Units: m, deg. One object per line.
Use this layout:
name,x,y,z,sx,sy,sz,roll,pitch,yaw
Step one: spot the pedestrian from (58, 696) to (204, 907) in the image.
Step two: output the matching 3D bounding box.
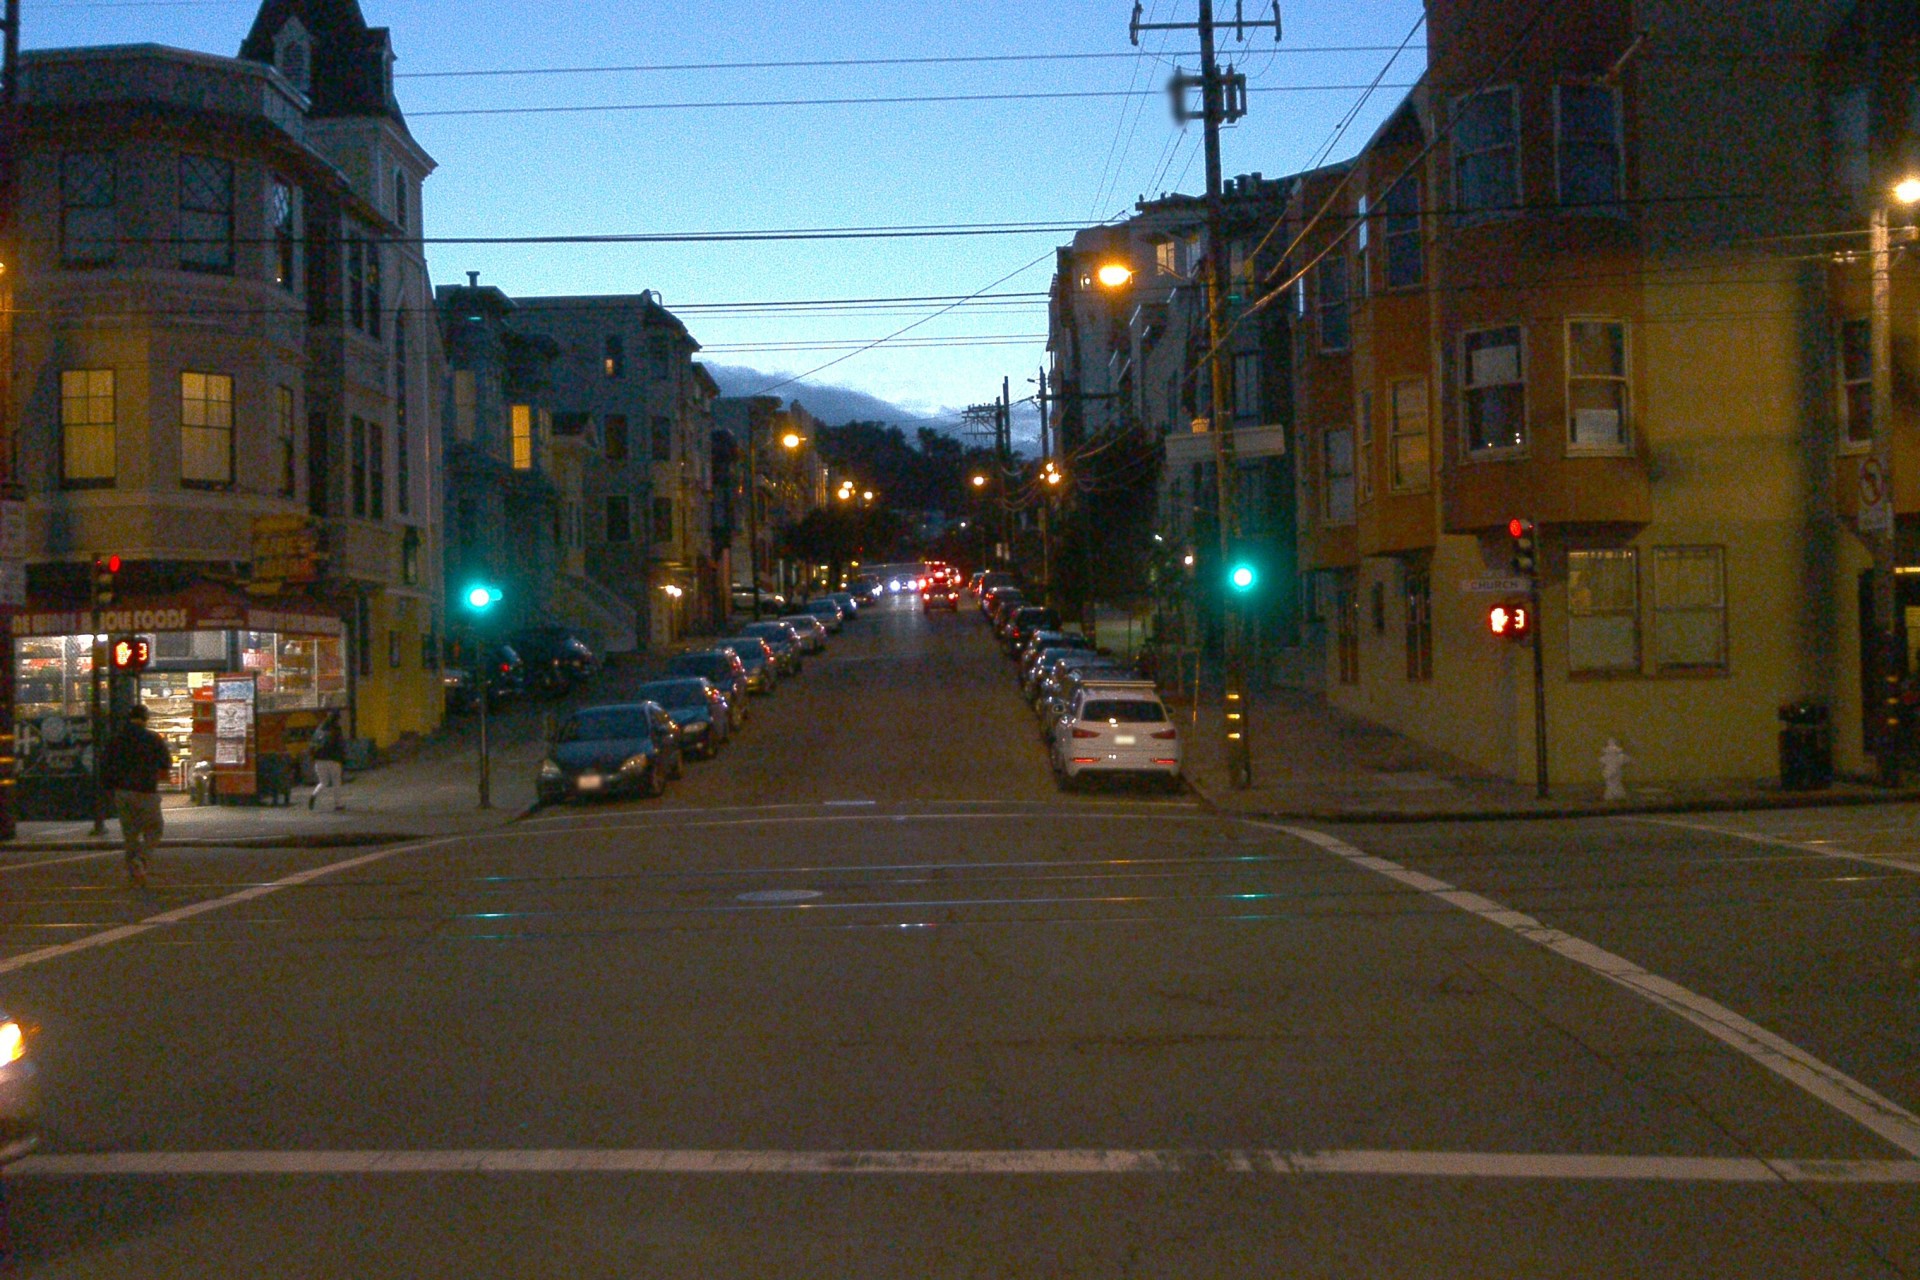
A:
pedestrian,-8.047,1.543,20.018,0.909,1.930,1.269,0,1,-1

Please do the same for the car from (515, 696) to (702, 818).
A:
car,-5.639,1.845,33.669,2.208,1.630,4.906,0,1,0

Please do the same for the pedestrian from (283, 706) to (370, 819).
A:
pedestrian,-9.643,1.845,31.309,0.925,1.640,0.885,0,1,16

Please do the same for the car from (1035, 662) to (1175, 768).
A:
car,2.614,1.333,38.219,2.060,1.700,4.833,0,1,-2

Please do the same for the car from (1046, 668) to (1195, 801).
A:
car,2.520,1.455,33.229,2.080,1.878,4.448,0,1,0
